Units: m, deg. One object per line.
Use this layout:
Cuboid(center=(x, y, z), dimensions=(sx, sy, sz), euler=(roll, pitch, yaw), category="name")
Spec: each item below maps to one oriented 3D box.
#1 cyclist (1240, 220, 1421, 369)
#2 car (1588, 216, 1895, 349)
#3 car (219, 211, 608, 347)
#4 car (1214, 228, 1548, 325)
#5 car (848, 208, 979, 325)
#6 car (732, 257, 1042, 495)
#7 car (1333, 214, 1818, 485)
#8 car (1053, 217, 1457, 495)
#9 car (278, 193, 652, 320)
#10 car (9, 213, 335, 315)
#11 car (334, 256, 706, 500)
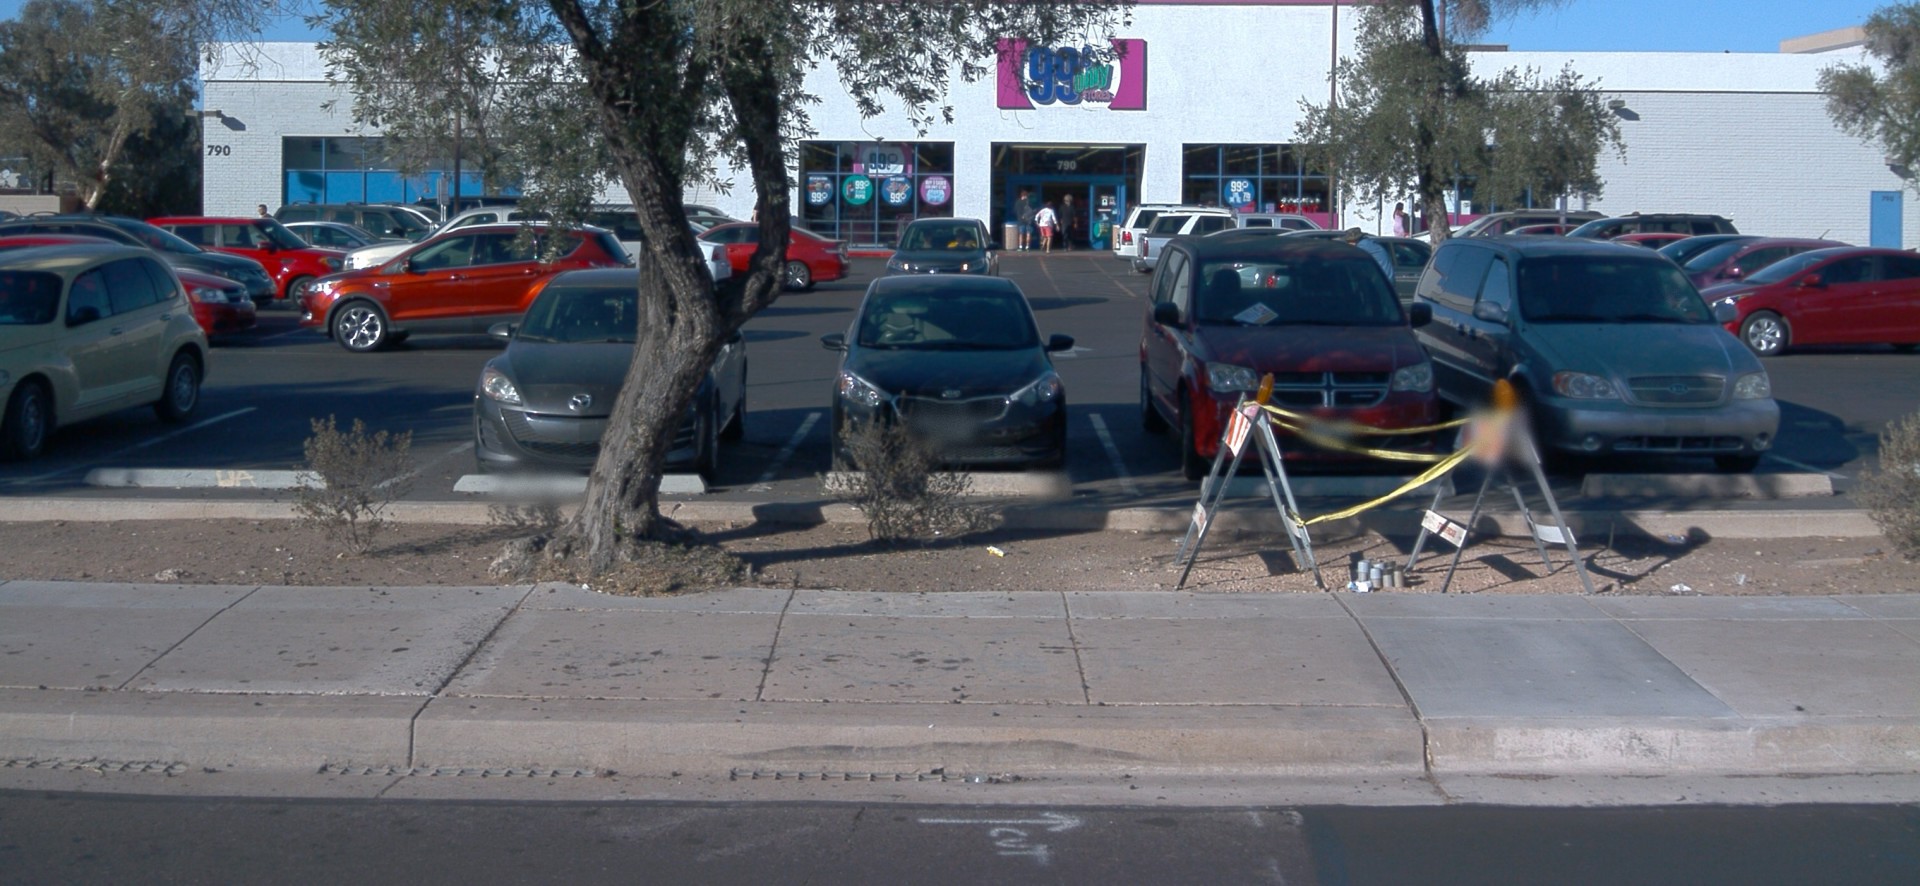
Cuboid(center=(4.464, -1.810, 25.113), dimensions=(2.031, 1.760, 0.990), euler=(0, 1, 1), category="cyclist")
Cuboid(center=(11.480, -2.388, 30.631), dimensions=(3.873, 1.888, 1.794), euler=(0, 3, -2), category="car")
Cuboid(center=(-7.173, -2.204, 27.635), dimensions=(4.620, 1.727, 2.163), euler=(0, 3, -2), category="car")
Cuboid(center=(6.696, -2.699, 33.413), dimensions=(4.999, 1.507, 2.140), euler=(0, 4, 1), category="car")
Cuboid(center=(-0.768, -3.220, 37.488), dimensions=(2.039, 1.983, 4.701), euler=(0, 5, 3), category="car")
Cuboid(center=(-0.592, -0.676, 16.568), dimensions=(2.114, 1.574, 4.805), euler=(0, 5, -2), category="car")
Cuboid(center=(4.781, -0.902, 17.051), dimensions=(2.293, 1.883, 5.010), euler=(0, 5, -3), category="car")
Cuboid(center=(2.137, -0.857, 16.795), dimensions=(2.313, 1.883, 5.350), euler=(0, 5, -2), category="car")
Cuboid(center=(-7.877, -3.023, 33.520), dimensions=(5.513, 1.957, 2.450), euler=(0, 3, -4), category="car")
Cuboid(center=(-13.521, -3.106, 35.821), dimensions=(4.805, 1.697, 2.180), euler=(0, 3, -3), category="car")
Cuboid(center=(-3.218, -0.641, 16.136), dimensions=(1.997, 1.584, 4.555), euler=(0, 5, -1), category="car")
